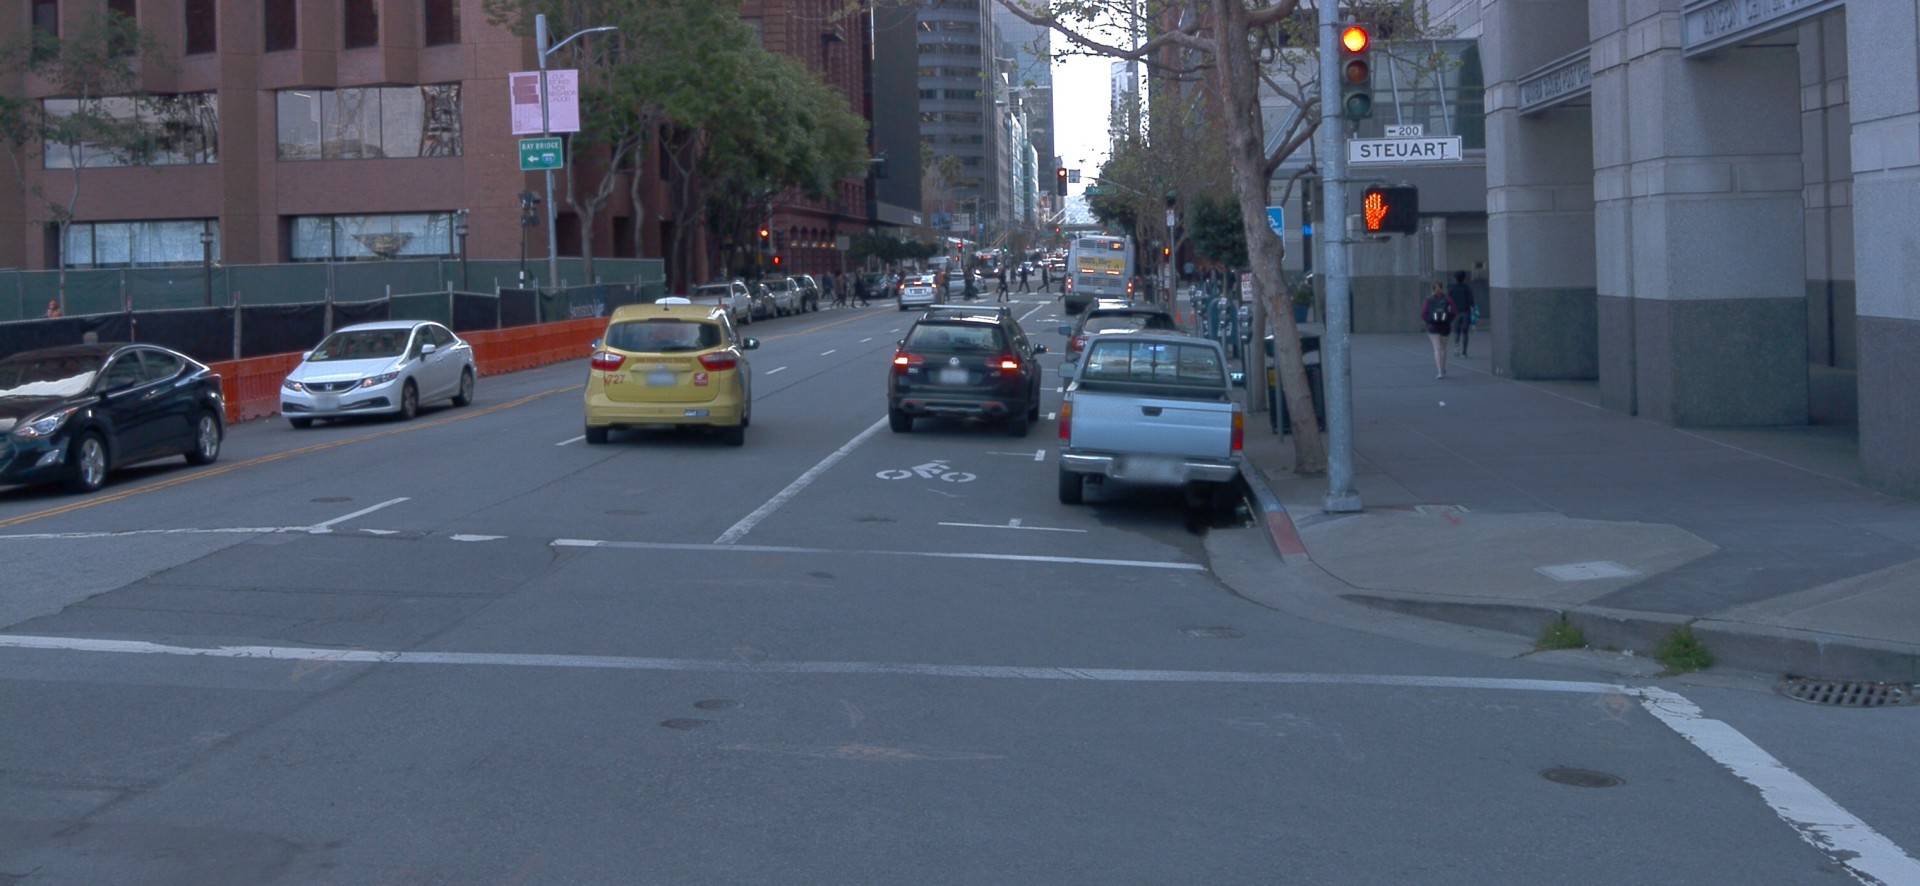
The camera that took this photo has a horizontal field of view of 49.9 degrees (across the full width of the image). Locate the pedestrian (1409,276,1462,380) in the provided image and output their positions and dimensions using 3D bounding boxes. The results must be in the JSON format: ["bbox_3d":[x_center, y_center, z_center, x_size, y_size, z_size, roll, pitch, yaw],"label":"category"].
[{"bbox_3d":[7.706,-1.878,33.475,0.720,1.649,0.900,0,1,5],"label":"pedestrian"}]

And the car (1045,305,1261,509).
[{"bbox_3d":[1.851,-0.472,20.199,1.863,1.604,4.695,0,5,5],"label":"car"}]

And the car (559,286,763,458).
[{"bbox_3d":[-3.504,-0.951,24.951,2.178,1.784,4.423,0,5,-5],"label":"car"}]

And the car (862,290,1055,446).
[{"bbox_3d":[0.073,-1.064,26.903,2.035,1.754,4.228,0,5,7],"label":"car"}]

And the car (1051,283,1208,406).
[{"bbox_3d":[2.566,-1.610,32.202,2.261,1.663,4.949,0,5,3],"label":"car"}]

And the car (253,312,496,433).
[{"bbox_3d":[-8.609,-1.116,30.810,2.056,1.494,4.643,0,5,4],"label":"car"}]
